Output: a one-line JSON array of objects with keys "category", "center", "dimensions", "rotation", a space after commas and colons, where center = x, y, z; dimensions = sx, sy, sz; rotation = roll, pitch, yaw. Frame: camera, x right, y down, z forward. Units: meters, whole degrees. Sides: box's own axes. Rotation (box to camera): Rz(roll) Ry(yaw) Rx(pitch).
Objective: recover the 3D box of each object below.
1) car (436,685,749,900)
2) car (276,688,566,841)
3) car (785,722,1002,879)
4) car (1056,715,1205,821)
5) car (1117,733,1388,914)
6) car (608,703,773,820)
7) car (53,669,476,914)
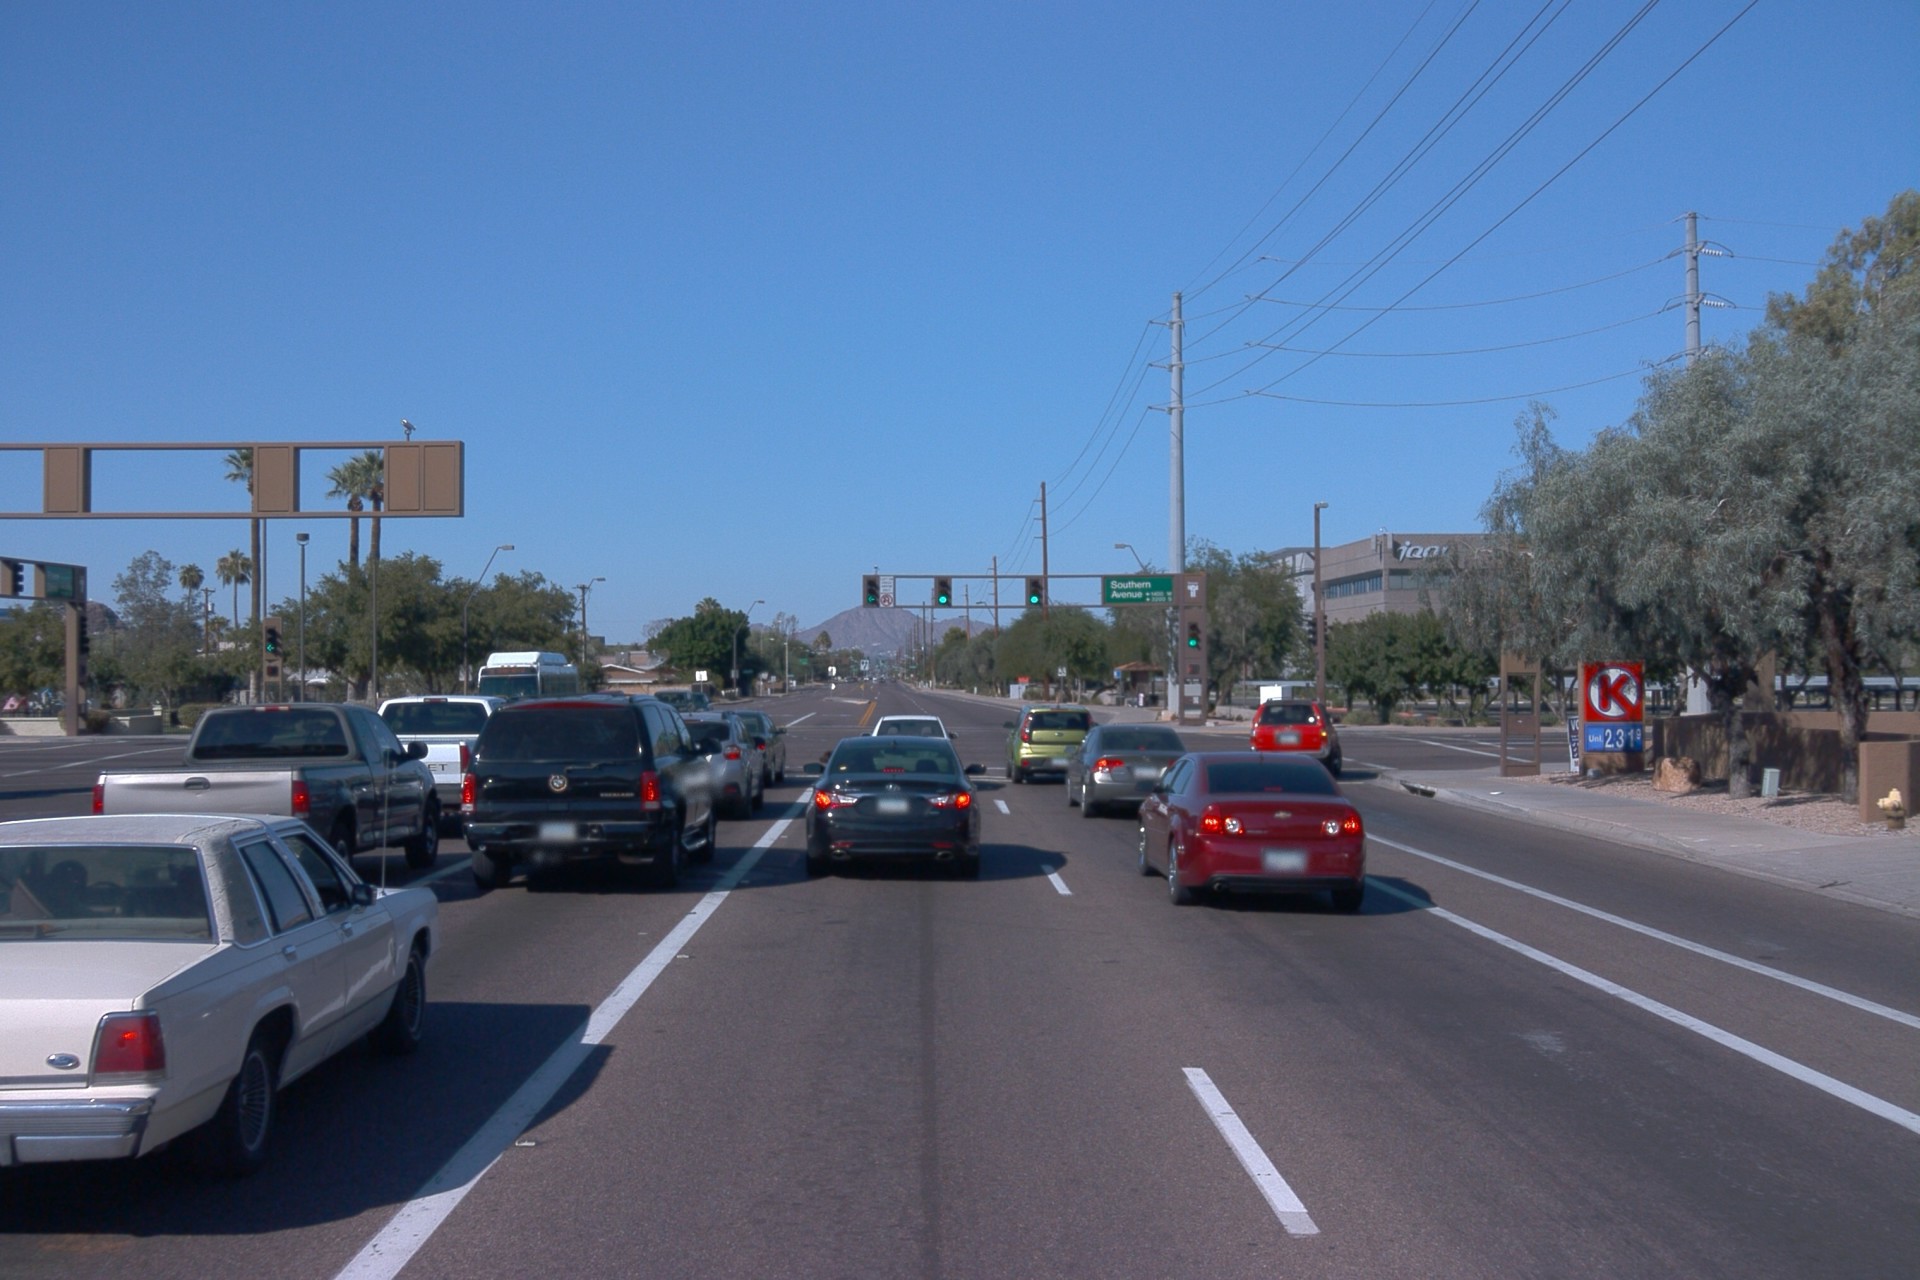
[{"category": "car", "center": [-3.657, 1.457, 21.666], "dimensions": [2.219, 1.970, 5.012], "rotation": [0, -1, 2]}, {"category": "car", "center": [-7.381, 1.641, 29.222], "dimensions": [2.493, 1.900, 6.194], "rotation": [0, -1, 0]}, {"category": "car", "center": [-0.732, 1.706, 23.135], "dimensions": [2.156, 1.470, 4.806], "rotation": [0, -1, -2]}, {"category": "car", "center": [2.631, 1.978, 32.972], "dimensions": [1.907, 1.500, 4.574], "rotation": [0, -1, -1]}, {"category": "car", "center": [2.771, 1.733, 20.756], "dimensions": [1.961, 1.480, 4.830], "rotation": [0, -1, -1]}, {"category": "car", "center": [-4.045, 1.805, 31.828], "dimensions": [2.076, 1.610, 4.769], "rotation": [0, -1, -2]}, {"category": "car", "center": [-6.647, 1.360, 20.675], "dimensions": [2.280, 2.080, 5.800], "rotation": [0, -1, 0]}]
